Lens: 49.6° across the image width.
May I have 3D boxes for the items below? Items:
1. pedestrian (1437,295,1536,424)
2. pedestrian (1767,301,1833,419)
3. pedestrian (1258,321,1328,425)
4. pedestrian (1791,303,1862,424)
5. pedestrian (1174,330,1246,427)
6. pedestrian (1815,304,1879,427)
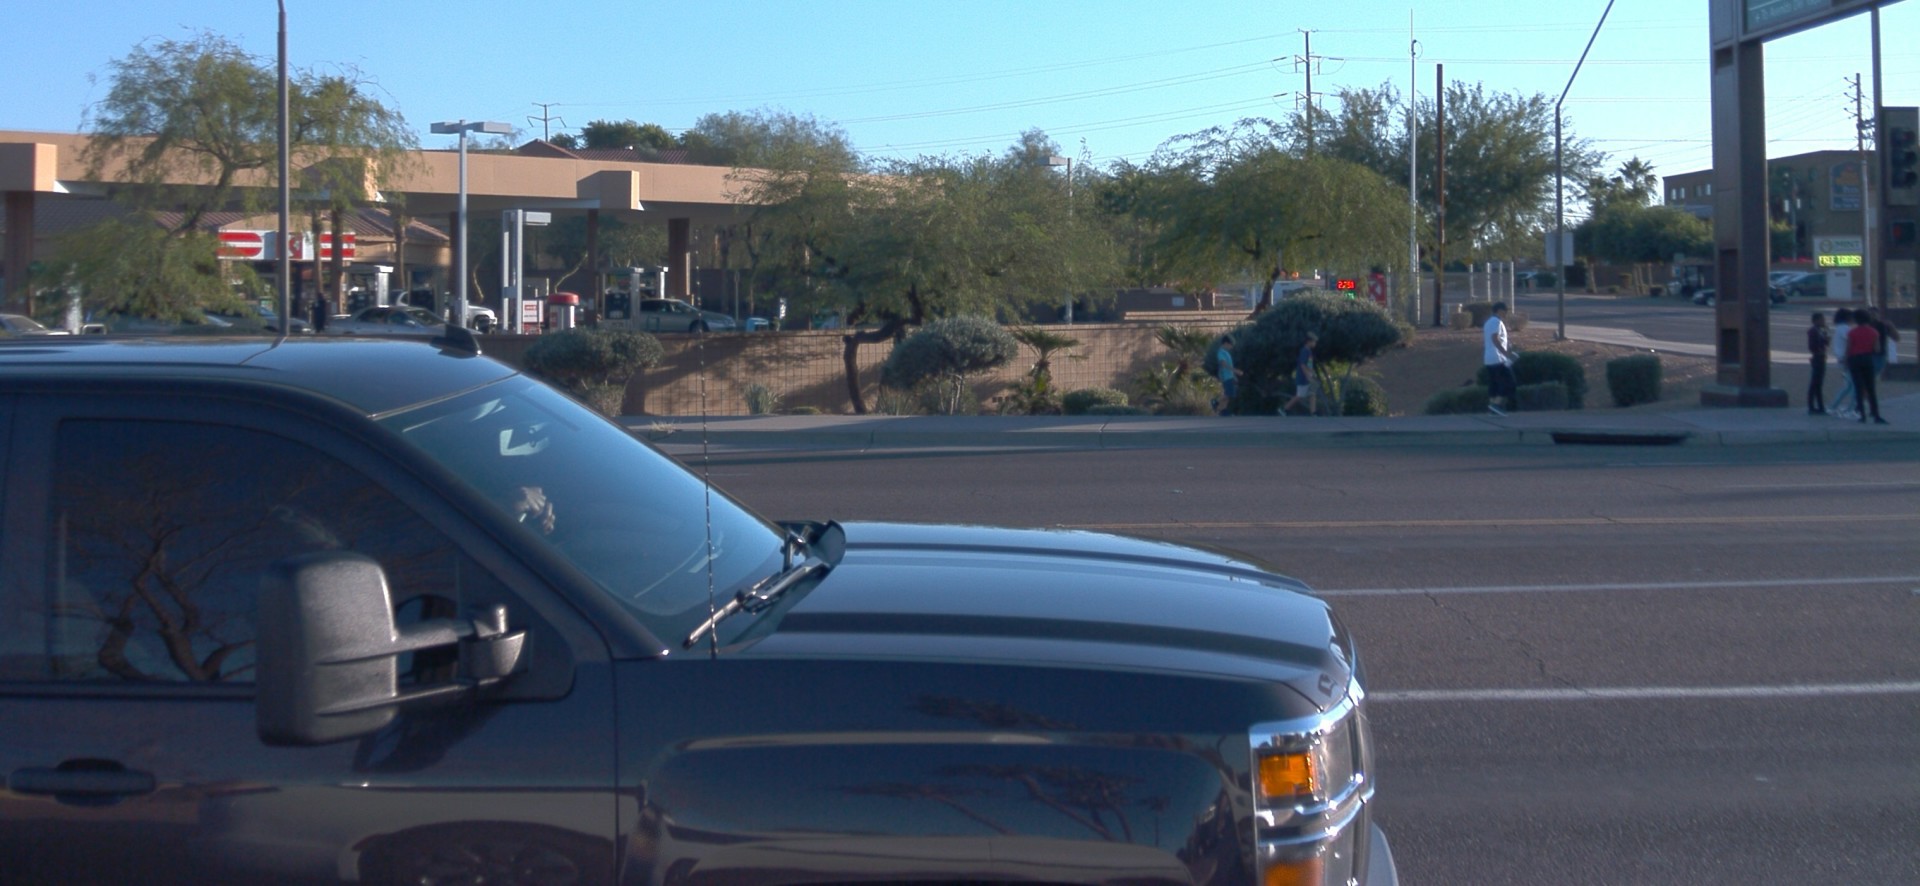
[{"bbox_3d":[7.480,-1.198,29.512,1.153,1.777,0.862,-1,1,-3],"label":"pedestrian"},{"bbox_3d":[11.990,-1.194,29.646,0.693,1.650,0.712,0,1,5],"label":"pedestrian"},{"bbox_3d":[4.926,-1.045,30.793,0.907,1.490,0.826,-1,1,0],"label":"pedestrian"},{"bbox_3d":[12.123,-1.128,29.052,0.646,1.640,0.652,-1,1,-12],"label":"pedestrian"},{"bbox_3d":[3.637,-0.948,30.242,0.915,1.360,0.777,-1,1,-4],"label":"pedestrian"},{"bbox_3d":[12.193,-1.073,28.549,0.652,1.660,0.646,0,1,8],"label":"pedestrian"}]
